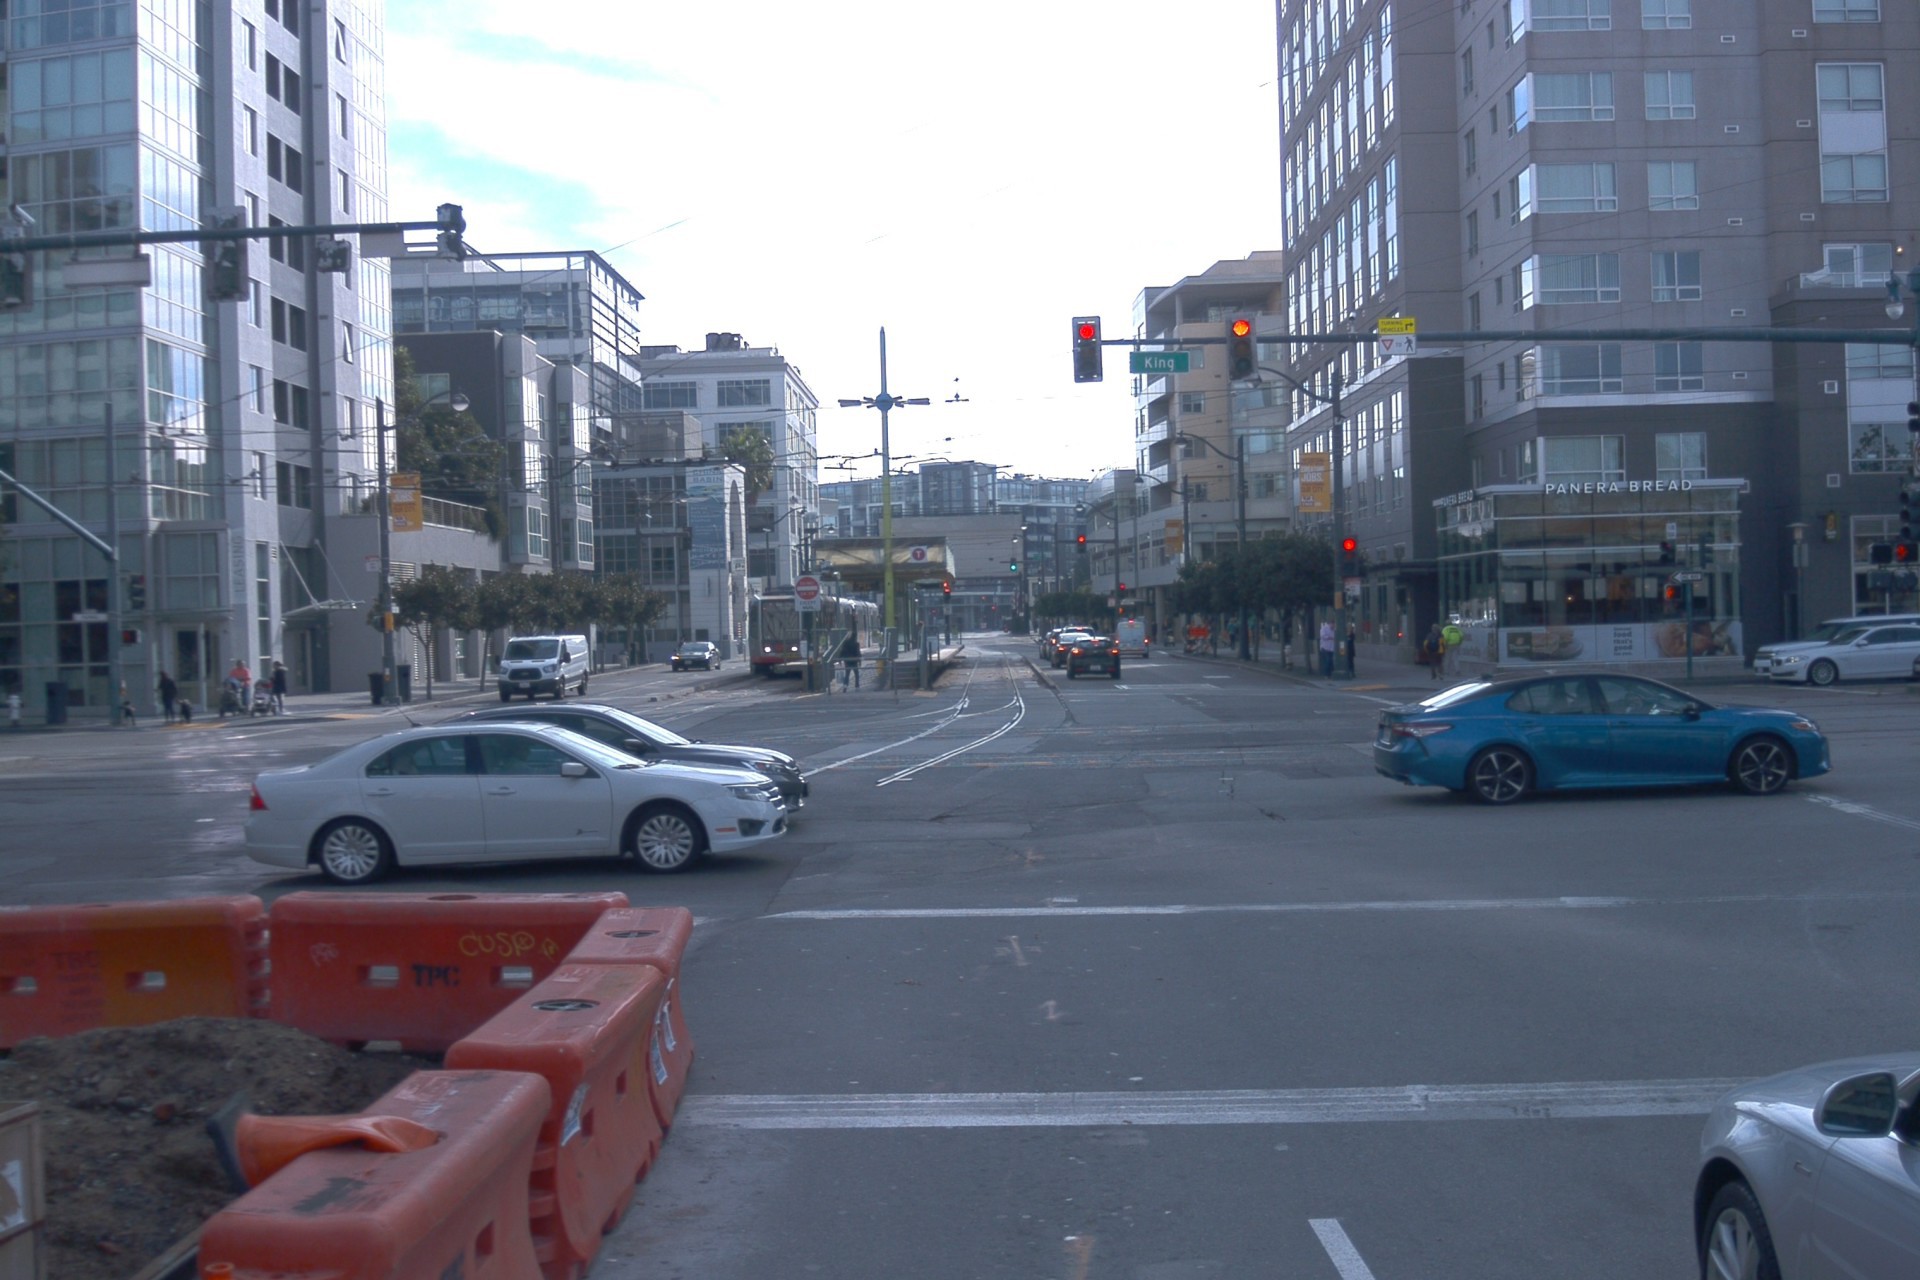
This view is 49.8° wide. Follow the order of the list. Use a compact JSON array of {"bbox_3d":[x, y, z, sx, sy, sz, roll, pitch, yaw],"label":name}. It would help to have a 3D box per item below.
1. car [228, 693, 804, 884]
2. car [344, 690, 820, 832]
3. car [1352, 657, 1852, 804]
[{"bbox_3d":[-4.006,1.337,19.355,4.918,1.610,2.125,0,0,0],"label":"car"},{"bbox_3d":[-4.032,1.294,22.710,4.836,1.427,2.021,0,0,1],"label":"car"},{"bbox_3d":[7.138,0.989,23.422,4.991,1.540,2.142,0,0,0],"label":"car"}]
